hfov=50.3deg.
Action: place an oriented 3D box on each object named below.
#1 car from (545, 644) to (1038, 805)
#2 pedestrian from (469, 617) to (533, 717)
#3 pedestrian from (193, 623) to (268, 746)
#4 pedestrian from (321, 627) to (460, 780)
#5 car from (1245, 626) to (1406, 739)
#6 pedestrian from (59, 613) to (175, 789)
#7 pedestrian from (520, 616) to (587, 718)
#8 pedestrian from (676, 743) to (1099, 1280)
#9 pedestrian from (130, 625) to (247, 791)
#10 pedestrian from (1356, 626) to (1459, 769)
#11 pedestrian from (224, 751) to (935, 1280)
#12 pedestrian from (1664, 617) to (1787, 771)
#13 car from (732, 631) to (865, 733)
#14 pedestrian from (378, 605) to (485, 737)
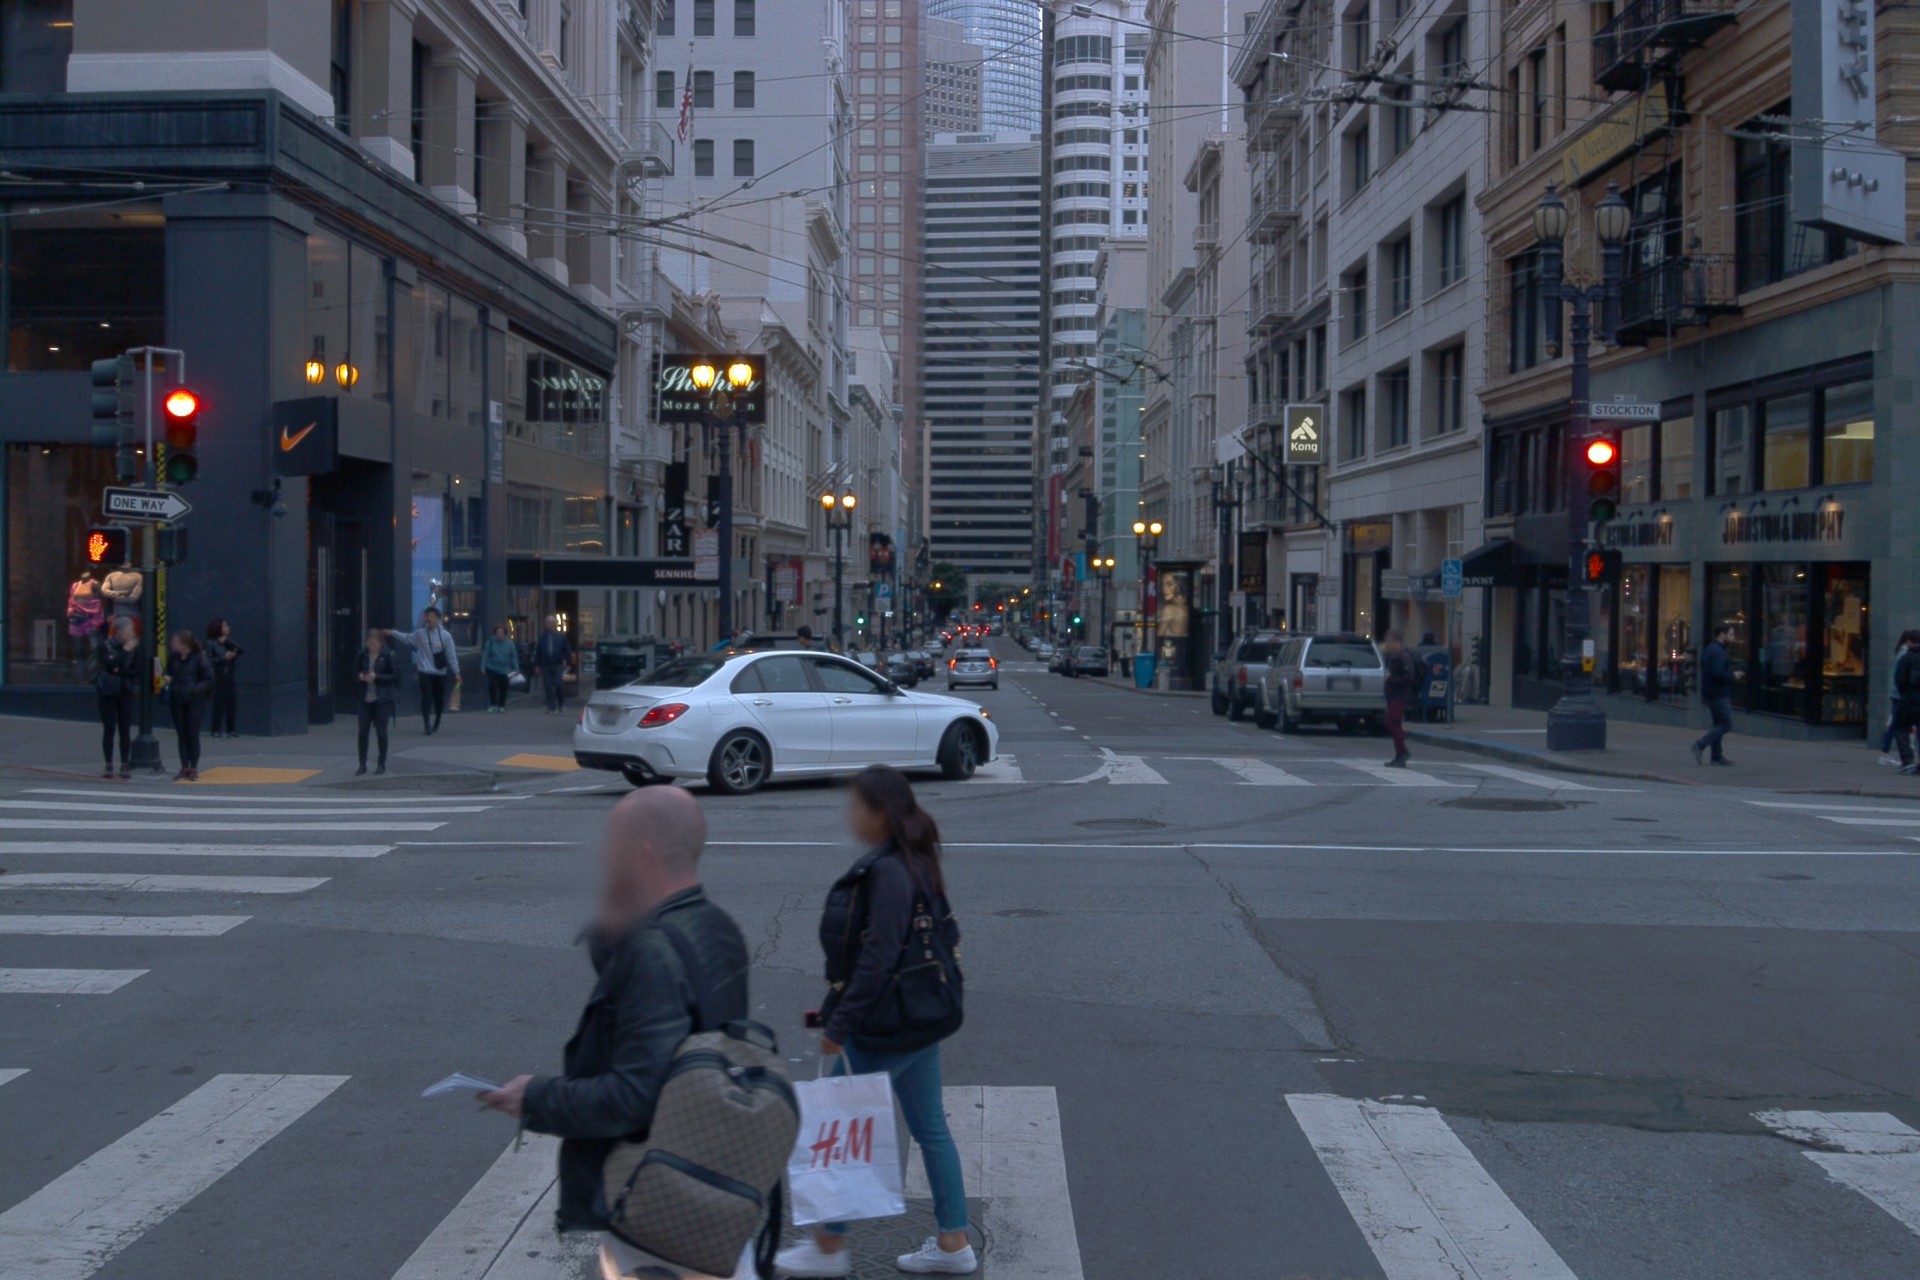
[{"bbox_3d":[-1.665,0.793,21.342,4.809,1.440,2.089,0,1,-41],"label":"car"},{"bbox_3d":[-8.087,0.458,36.060,0.999,1.740,1.001,0,1,-7],"label":"pedestrian"},{"bbox_3d":[-9.026,0.539,25.337,0.686,1.500,0.639,0,1,2],"label":"pedestrian"},{"bbox_3d":[-6.240,0.670,22.455,0.976,1.630,1.119,0,1,25],"label":"pedestrian"},{"bbox_3d":[6.359,0.696,36.049,1.952,1.860,4.298,0,1,-1],"label":"car"},{"bbox_3d":[-8.865,0.621,21.555,0.897,1.800,1.086,0,1,-8],"label":"pedestrian"},{"bbox_3d":[-7.307,0.477,36.824,1.000,1.820,1.000,0,1,1],"label":"pedestrian"},{"bbox_3d":[-0.166,1.169,6.148,1.101,1.640,1.171,0,1,7],"label":"pedestrian"},{"bbox_3d":[-8.173,0.701,21.704,0.954,1.710,1.071,0,1,-8],"label":"pedestrian"},{"bbox_3d":[5.336,0.673,24.392,1.000,1.680,0.673,0,1,-13],"label":"pedestrian"},{"bbox_3d":[-0.680,1.163,4.012,1.126,1.820,0.927,0,1,9],"label":"pedestrian"},{"bbox_3d":[8.909,0.612,23.840,1.111,1.760,0.953,0,1,4],"label":"pedestrian"},{"bbox_3d":[-2.829,0.695,36.778,1.946,1.699,4.331,0,1,2],"label":"car"},{"bbox_3d":[-7.326,0.404,28.322,1.303,1.773,1.284,0,1,-21],"label":"pedestrian"}]
